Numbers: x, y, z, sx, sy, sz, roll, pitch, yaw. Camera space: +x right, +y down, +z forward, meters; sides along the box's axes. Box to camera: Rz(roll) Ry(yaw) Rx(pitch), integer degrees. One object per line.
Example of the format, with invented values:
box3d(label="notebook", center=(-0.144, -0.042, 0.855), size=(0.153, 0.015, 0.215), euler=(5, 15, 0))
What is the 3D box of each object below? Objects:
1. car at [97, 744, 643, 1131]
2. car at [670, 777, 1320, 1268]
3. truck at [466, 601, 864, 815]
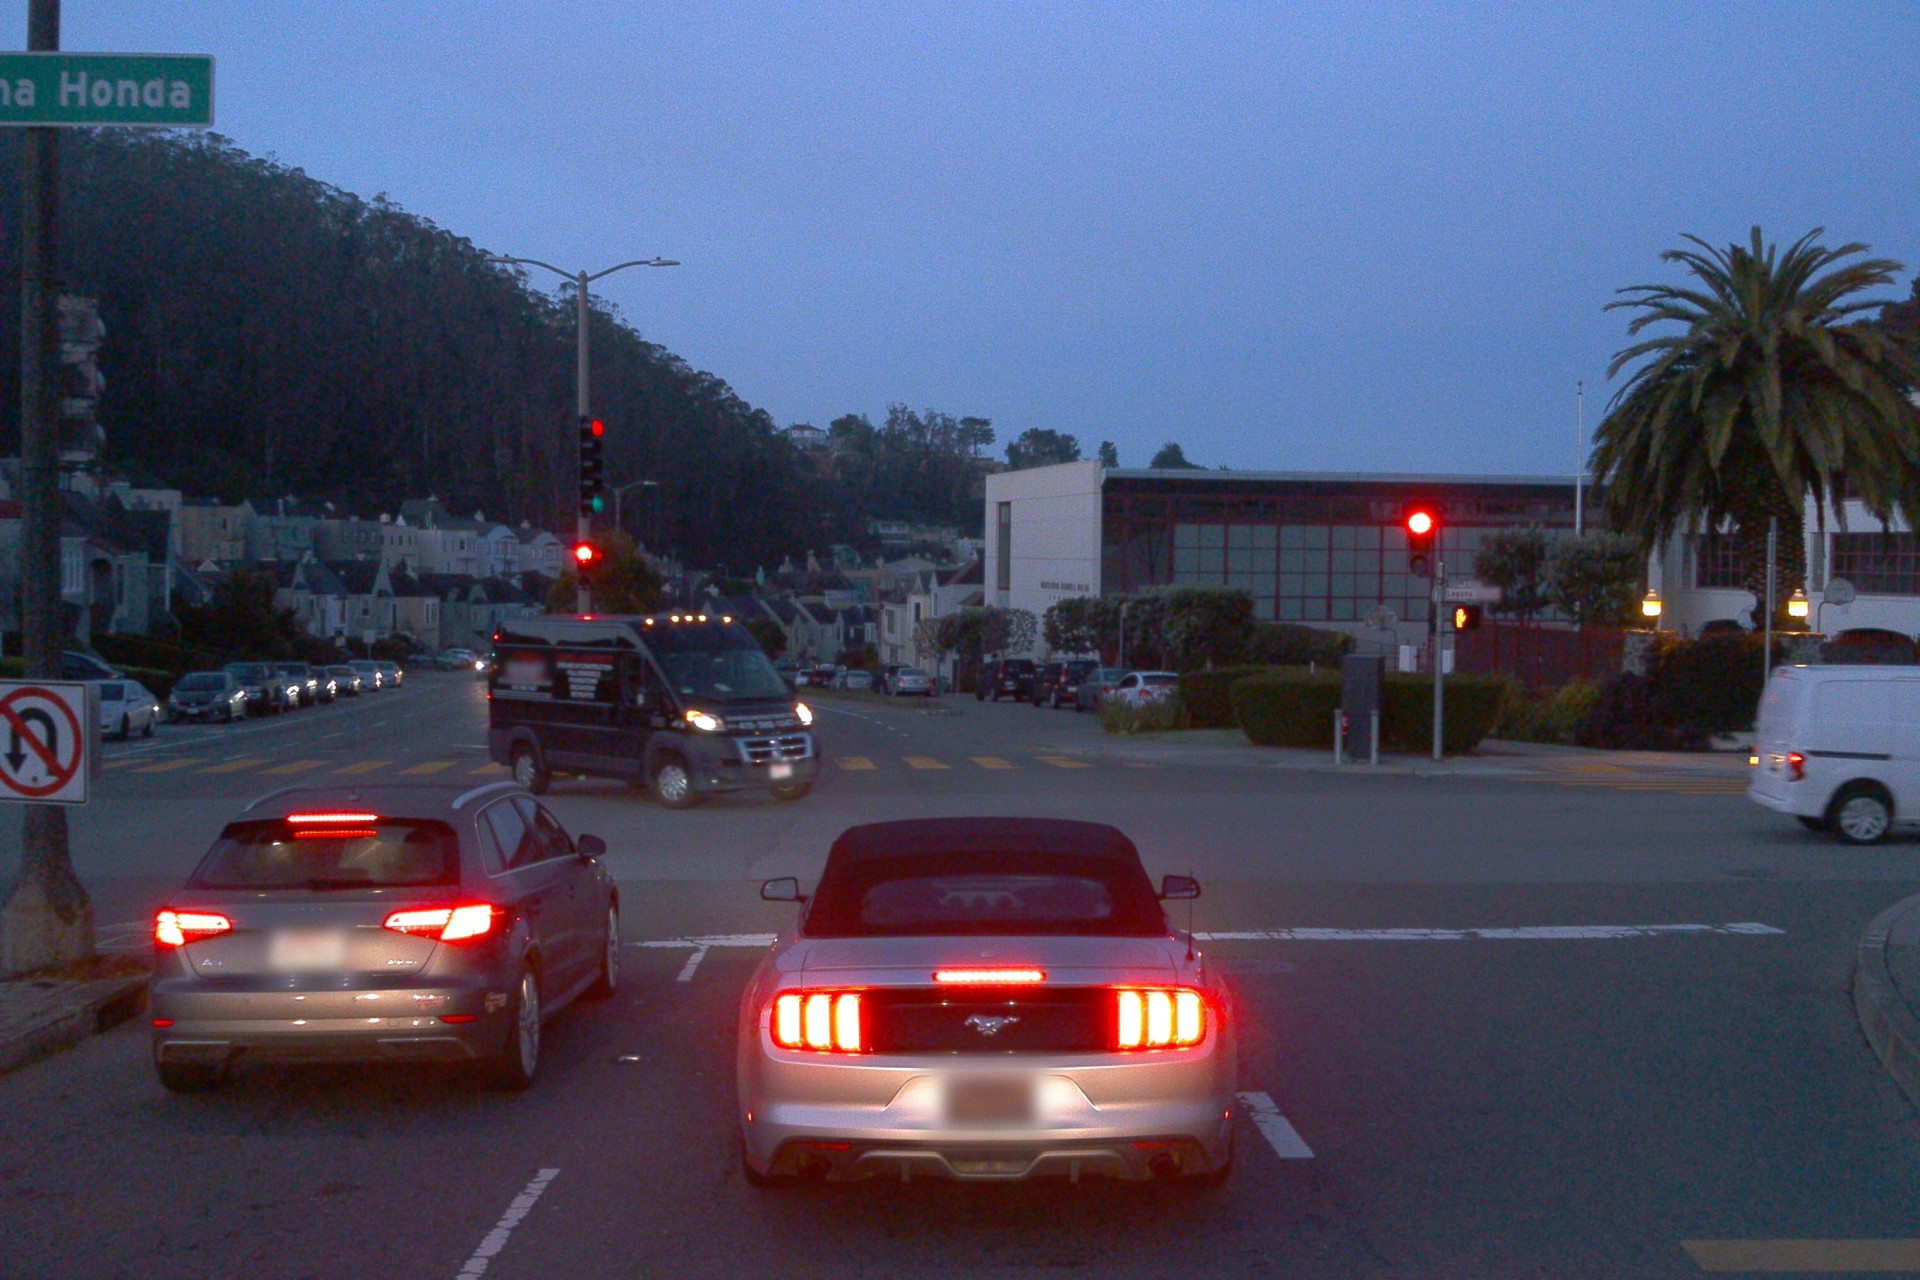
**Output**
box3d(label="car", center=(-2.886, 1.403, 11.058), size=(1.782, 1.510, 3.987), euler=(0, 0, 0))
box3d(label="car", center=(0.099, 1.423, 9.110), size=(2.174, 1.380, 4.355), euler=(0, 0, 0))
box3d(label="truck", center=(-4.123, 0.845, 28.151), size=(2.545, 2.610, 5.659), euler=(0, 0, -43))
